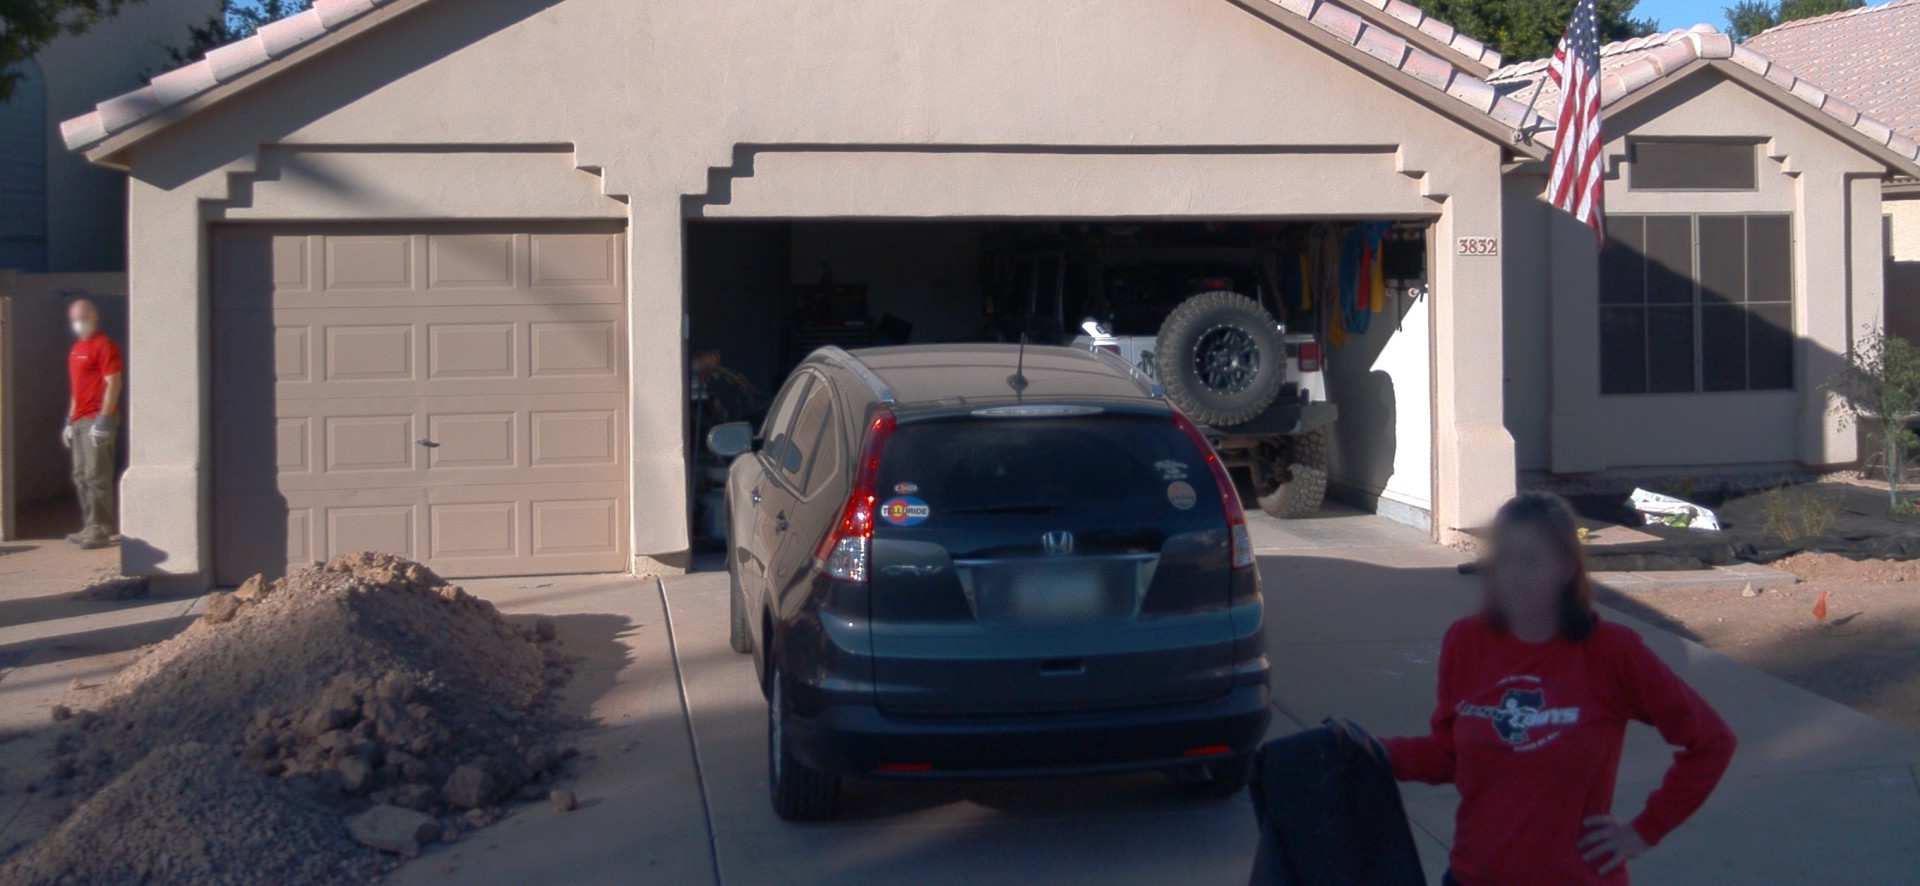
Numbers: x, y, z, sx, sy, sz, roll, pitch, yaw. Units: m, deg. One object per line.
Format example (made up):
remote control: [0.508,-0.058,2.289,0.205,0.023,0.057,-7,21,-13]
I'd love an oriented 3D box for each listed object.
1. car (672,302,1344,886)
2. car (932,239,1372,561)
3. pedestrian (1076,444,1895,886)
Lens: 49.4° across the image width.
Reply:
car: [-0.120,0.396,9.017,2.048,1.864,4.516,-1,5,-10]
car: [1.240,-0.509,15.850,2.115,2.034,4.666,-1,4,-11]
pedestrian: [0.911,0.941,3.994,1.264,1.750,1.312,0,2,7]
